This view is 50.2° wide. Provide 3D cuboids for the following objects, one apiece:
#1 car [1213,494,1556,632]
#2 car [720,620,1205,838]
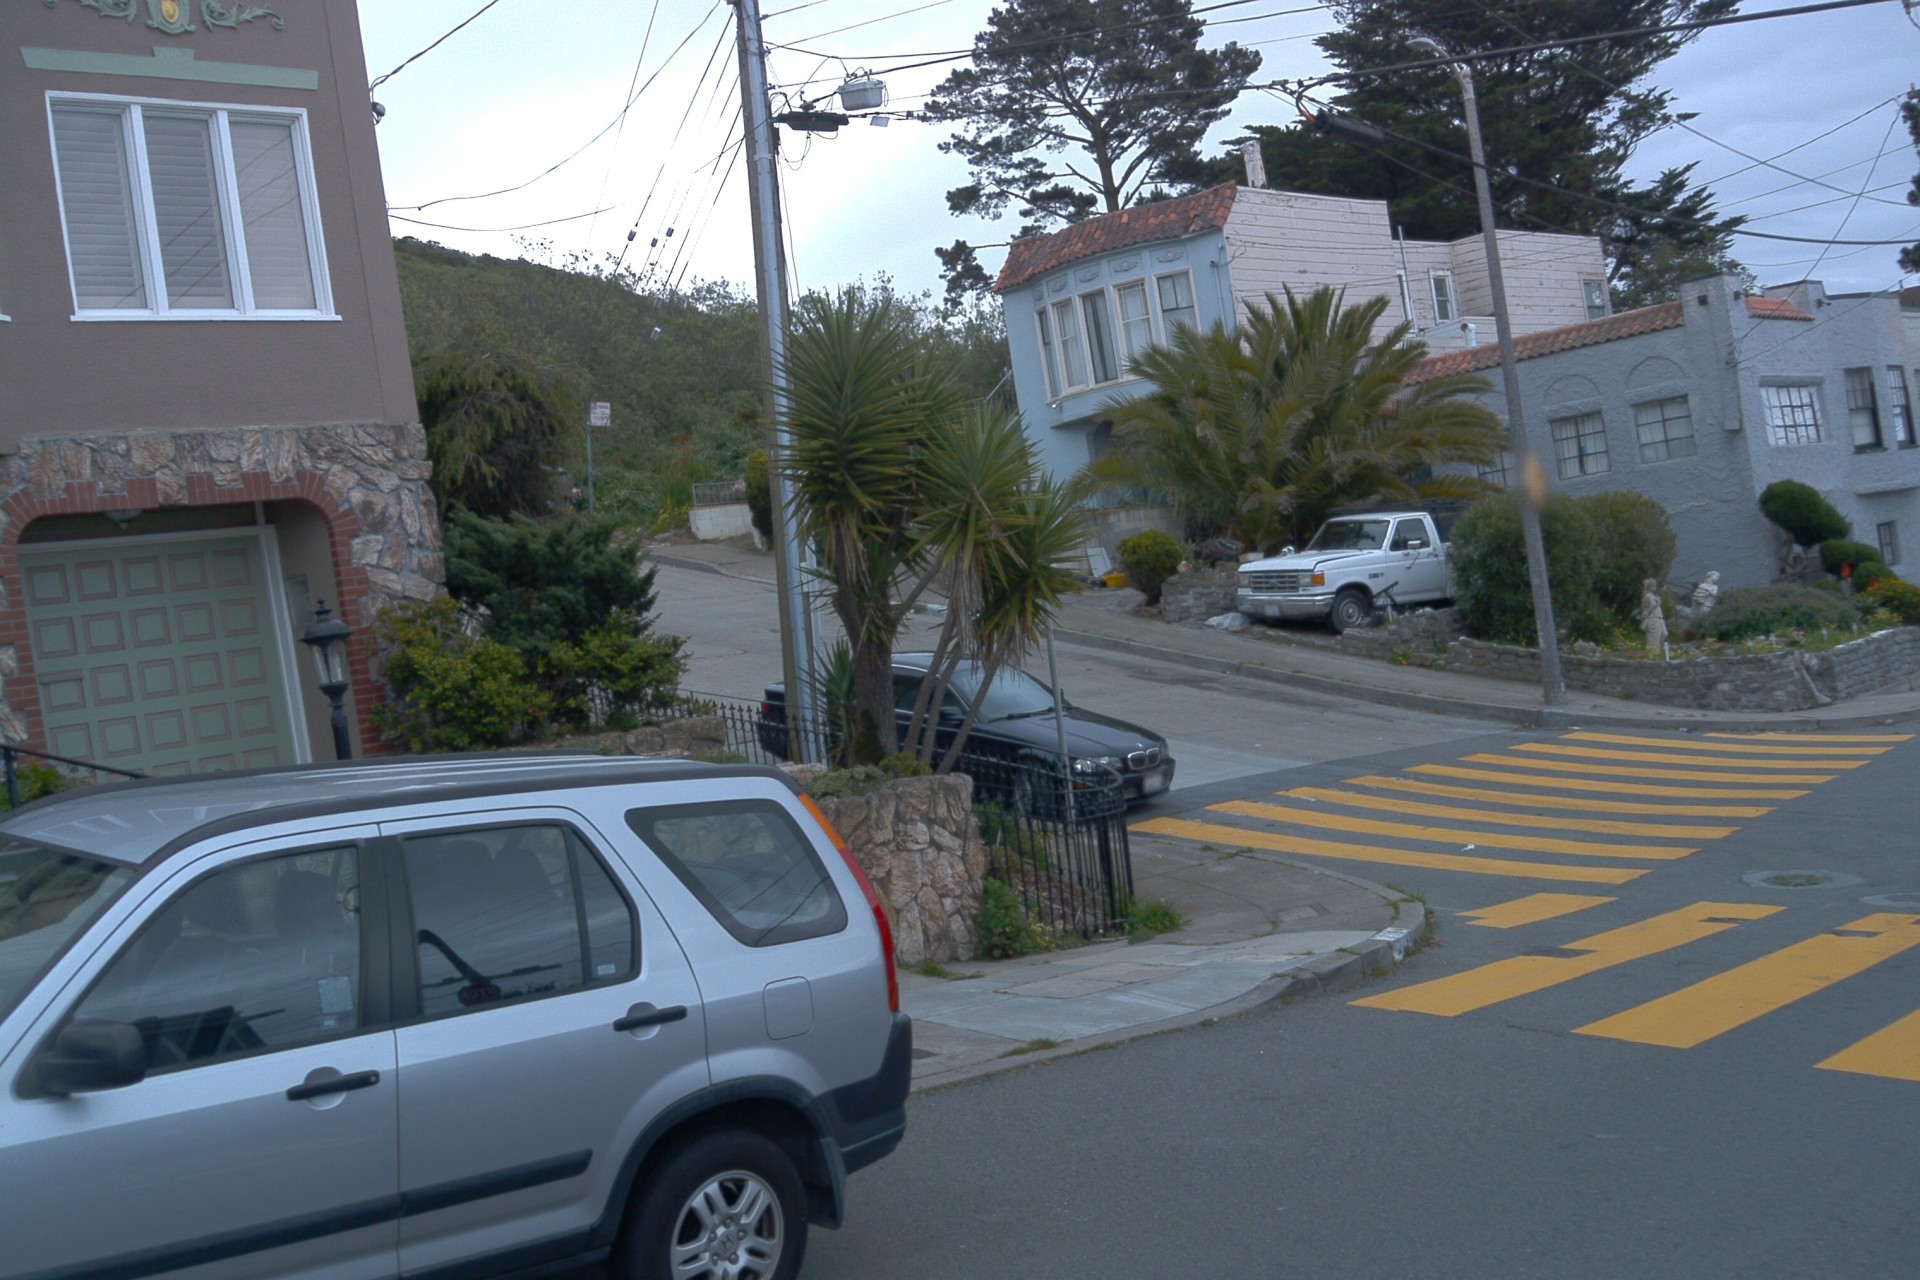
[{"bbox_3d":[6.695,-1.140,32.158,5.126,2.000,2.229,0,1,-32],"label":"car"},{"bbox_3d":[-0.063,0.758,20.247,4.570,1.890,2.007,1,1,40],"label":"car"}]
